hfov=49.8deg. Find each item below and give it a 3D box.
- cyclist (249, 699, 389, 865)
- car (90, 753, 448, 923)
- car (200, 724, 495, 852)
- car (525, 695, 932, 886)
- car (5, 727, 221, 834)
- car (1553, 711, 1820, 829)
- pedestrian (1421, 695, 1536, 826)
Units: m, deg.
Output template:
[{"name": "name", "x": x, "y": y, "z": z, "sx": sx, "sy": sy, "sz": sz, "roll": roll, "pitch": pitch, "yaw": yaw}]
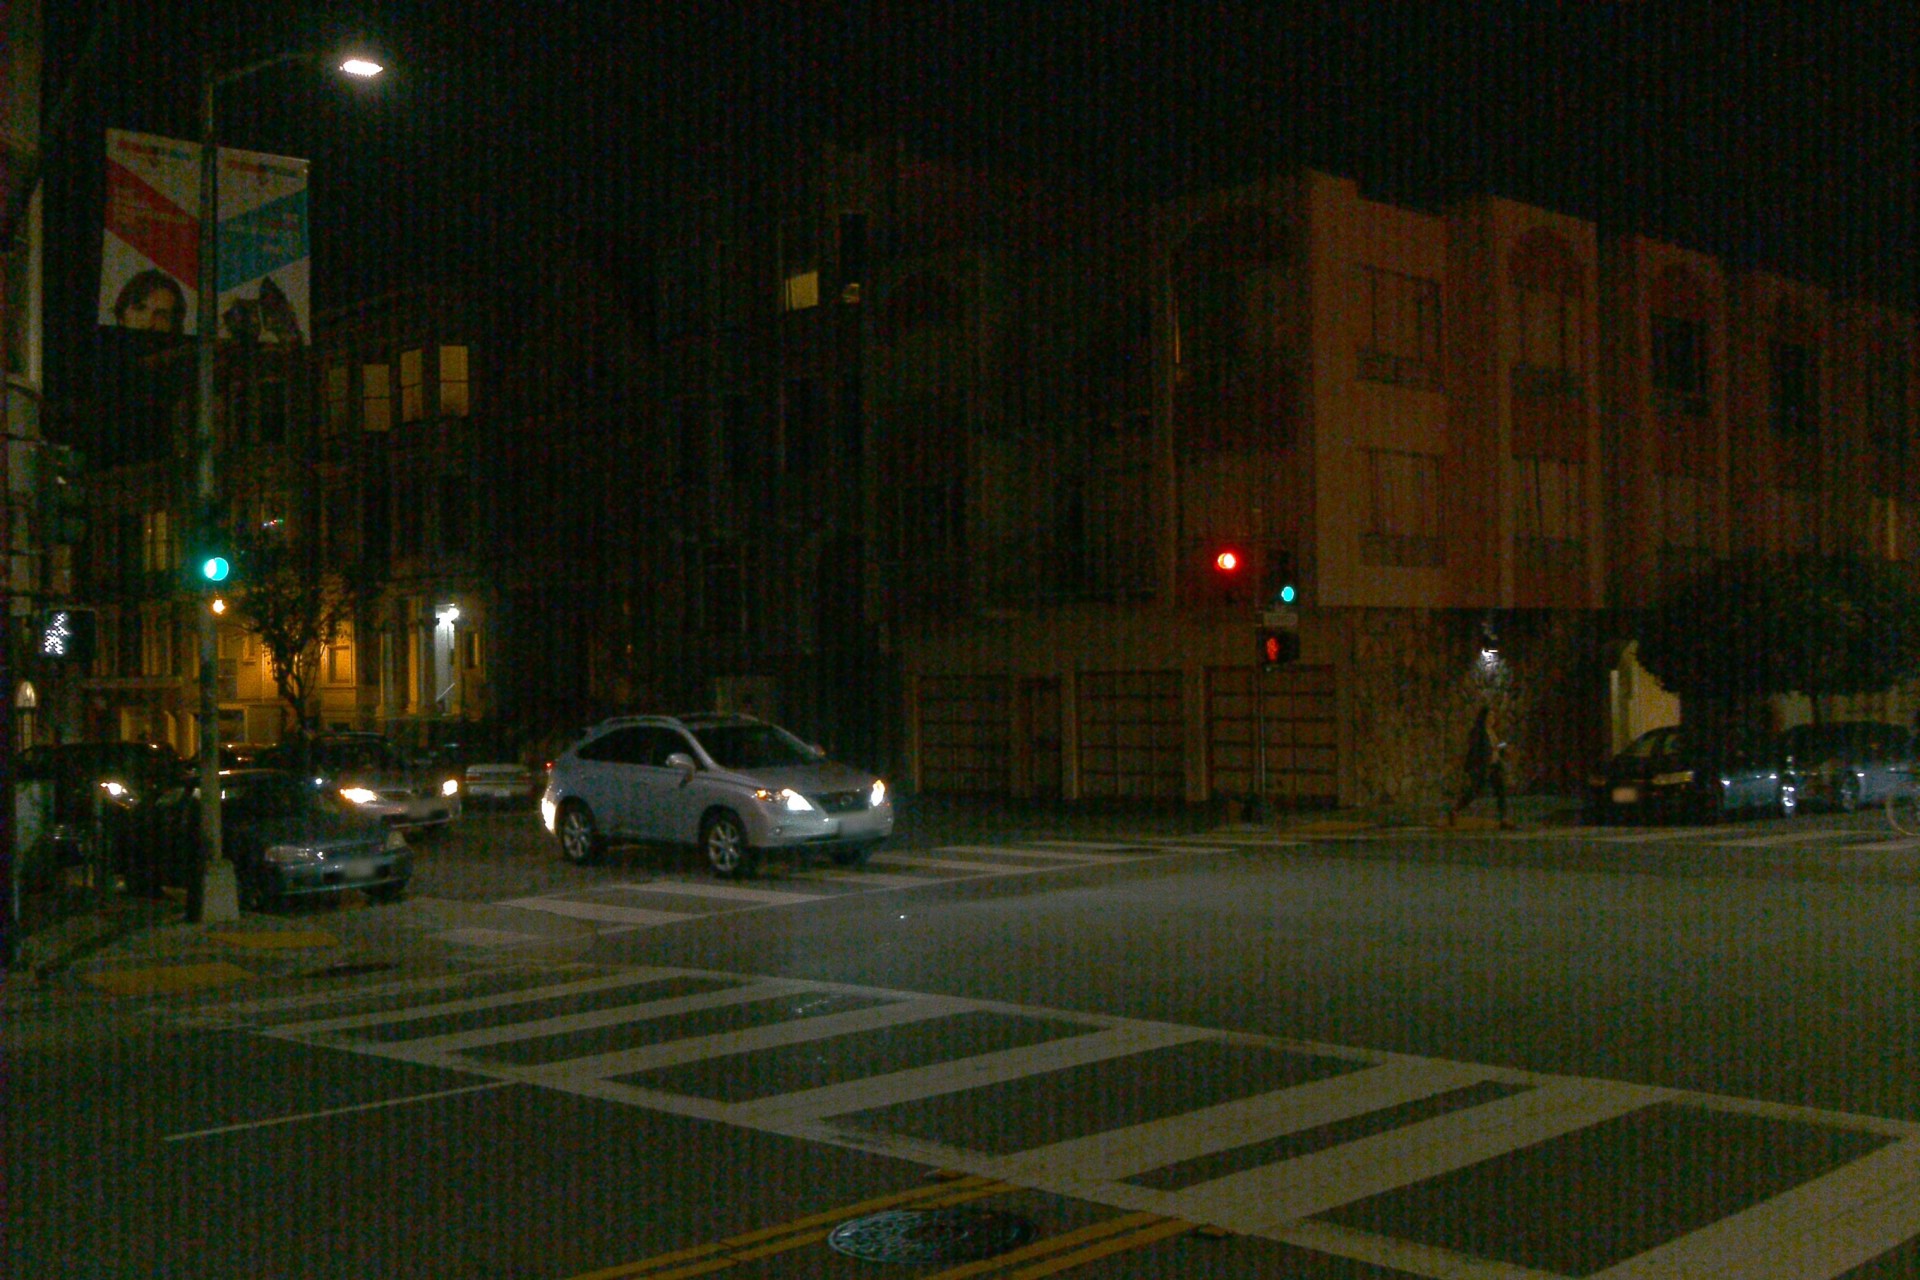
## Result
[{"name": "cyclist", "x": -7.848, "y": 1.693, "z": 25.244, "sx": 0.832, "sy": 1.870, "sz": 1.925, "roll": 1, "pitch": 0, "yaw": -44}, {"name": "car", "x": -7.485, "y": 2.037, "z": 22.153, "sx": 1.946, "sy": 1.350, "sz": 4.278, "roll": 1, "pitch": 0, "yaw": -44}, {"name": "car", "x": -8.809, "y": 2.040, "z": 29.508, "sx": 4.459, "sy": 1.450, "sz": 2.125, "roll": 1, "pitch": 0, "yaw": 45}, {"name": "car", "x": -2.704, "y": 1.588, "z": 23.338, "sx": 2.139, "sy": 1.760, "sz": 4.613, "roll": 1, "pitch": 0, "yaw": -45}, {"name": "car", "x": -14.714, "y": 2.370, "z": 35.780, "sx": 2.021, "sy": 1.480, "sz": 4.494, "roll": 1, "pitch": 0, "yaw": -42}, {"name": "car", "x": 10.606, "y": 1.817, "z": 29.957, "sx": 1.967, "sy": 1.430, "sz": 4.633, "roll": 1, "pitch": 0, "yaw": 42}, {"name": "pedestrian", "x": 7.044, "y": 1.617, "z": 28.075, "sx": 1.175, "sy": 1.690, "sz": 0.935, "roll": 1, "pitch": 0, "yaw": 44}]
